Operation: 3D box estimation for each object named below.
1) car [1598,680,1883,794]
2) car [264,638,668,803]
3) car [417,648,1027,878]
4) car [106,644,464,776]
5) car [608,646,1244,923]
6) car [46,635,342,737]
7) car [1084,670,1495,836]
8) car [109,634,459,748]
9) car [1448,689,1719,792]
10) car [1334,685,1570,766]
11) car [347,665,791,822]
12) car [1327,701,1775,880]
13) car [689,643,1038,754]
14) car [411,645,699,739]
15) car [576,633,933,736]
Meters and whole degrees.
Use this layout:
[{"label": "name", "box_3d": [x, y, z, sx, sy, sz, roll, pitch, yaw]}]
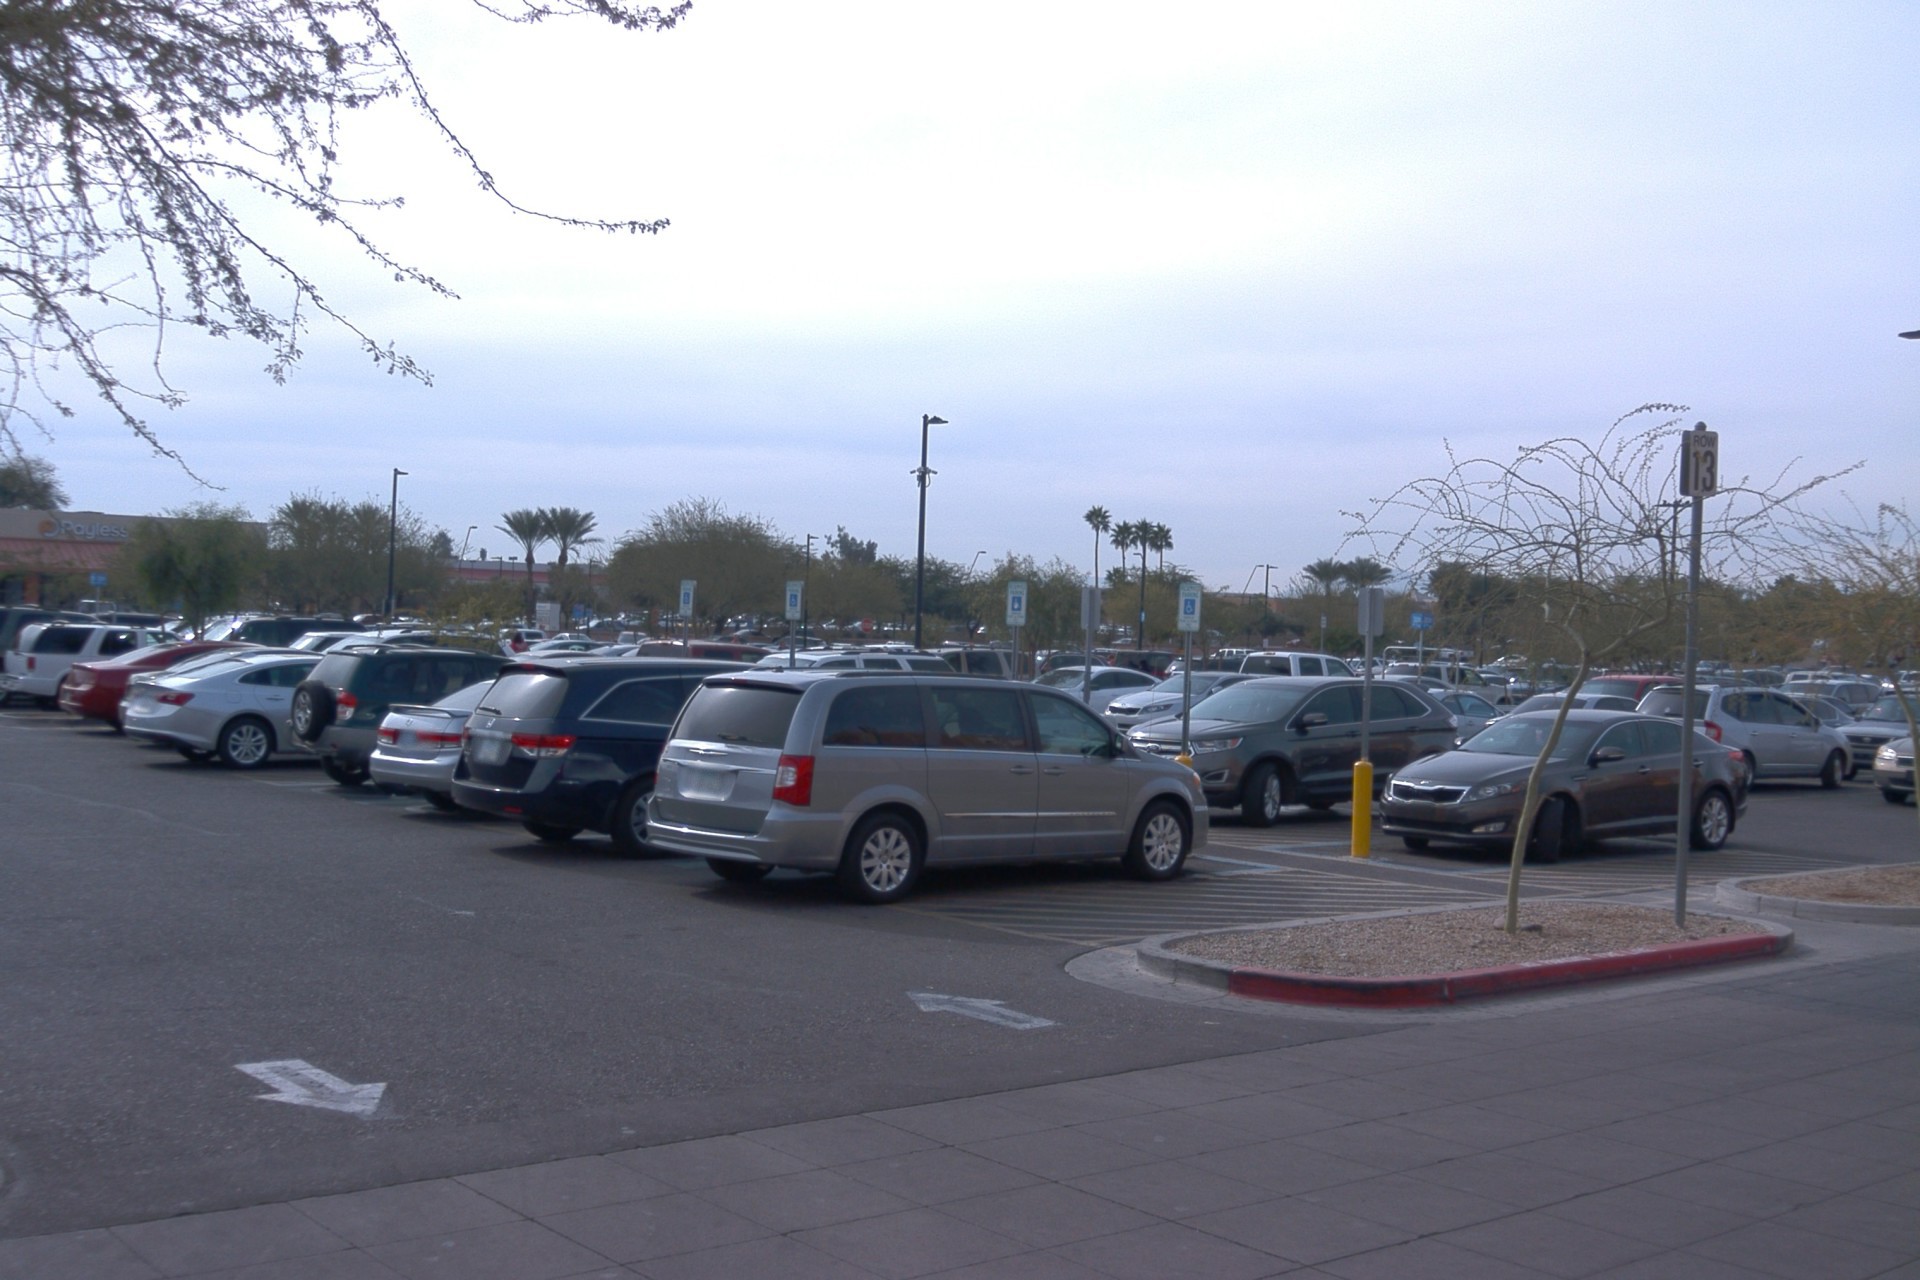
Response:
[{"label": "car", "box_3d": [12.552, 1.520, 33.277, 4.752, 1.660, 2.105, 2, -1, -38]}, {"label": "car", "box_3d": [-5.835, 0.926, 24.834, 4.279, 1.790, 1.896, 2, -1, -42]}, {"label": "car", "box_3d": [-2.098, 1.065, 19.494, 5.324, 1.850, 2.262, 2, -1, -42]}, {"label": "car", "box_3d": [-8.813, 0.898, 27.255, 4.039, 1.590, 1.861, 2, -1, -39]}, {"label": "car", "box_3d": [-0.133, 1.071, 17.076, 5.067, 1.930, 2.133, 2, -1, -43]}, {"label": "car", "box_3d": [-12.044, 0.728, 32.730, 3.944, 1.510, 1.865, 2, -1, -40]}, {"label": "car", "box_3d": [3.951, 1.268, 24.441, 4.789, 1.740, 2.142, 2, -1, -40]}, {"label": "car", "box_3d": [-9.931, 0.746, 30.660, 4.474, 1.550, 1.950, 2, -1, -40]}, {"label": "car", "box_3d": [10.661, 1.671, 35.339, 4.752, 1.580, 2.105, 2, -1, -40]}, {"label": "car", "box_3d": [8.971, 1.527, 37.684, 4.344, 1.340, 1.915, 2, -1, -40]}, {"label": "car", "box_3d": [-4.110, 1.059, 22.224, 4.279, 1.500, 1.896, 2, -1, -42]}, {"label": "car", "box_3d": [6.249, 1.475, 21.672, 4.783, 1.610, 2.143, 2, -1, -40]}, {"label": "car", "box_3d": [-1.314, 0.825, 29.793, 4.748, 1.460, 2.027, 2, -1, -41]}, {"label": "car", "box_3d": [-7.082, 0.908, 36.525, 4.550, 1.540, 1.999, 2, -1, -39]}, {"label": "car", "box_3d": [-3.088, 0.685, 31.873, 5.056, 1.450, 2.221, 2, -1, -40]}]
